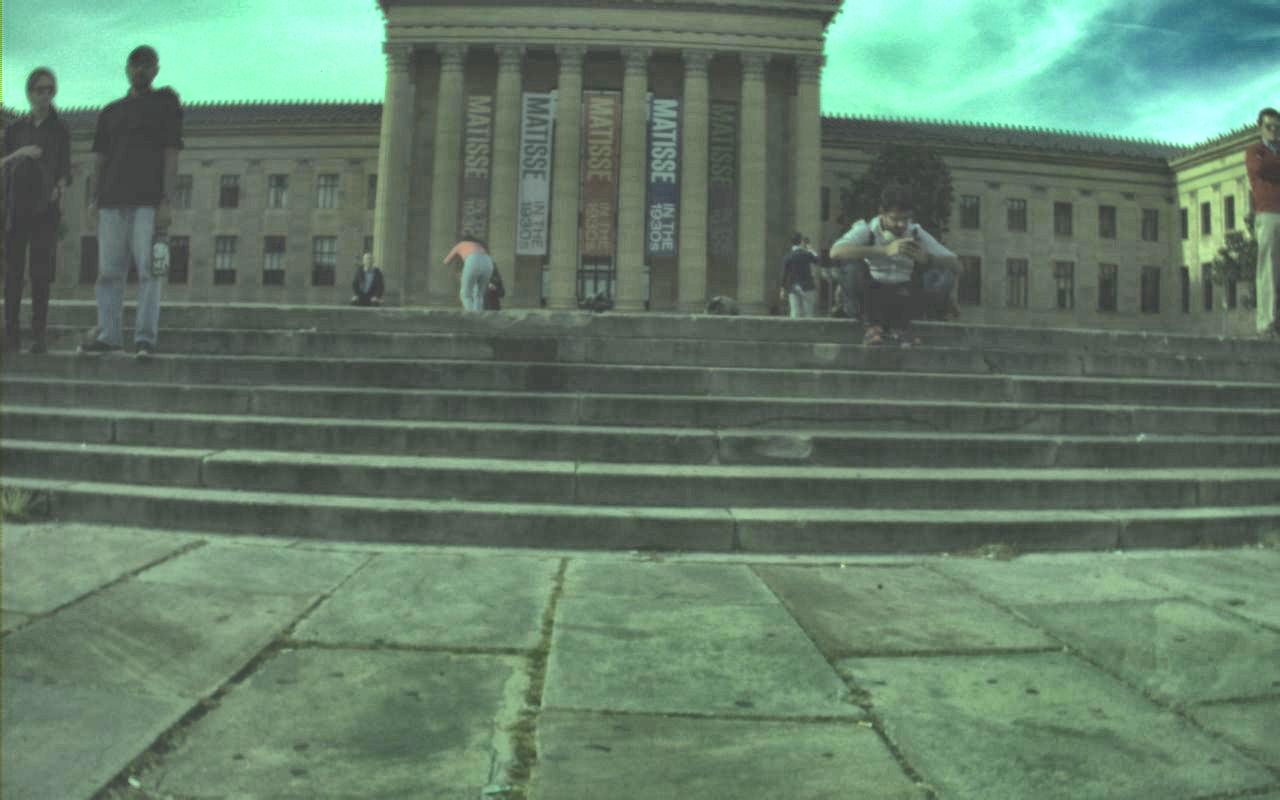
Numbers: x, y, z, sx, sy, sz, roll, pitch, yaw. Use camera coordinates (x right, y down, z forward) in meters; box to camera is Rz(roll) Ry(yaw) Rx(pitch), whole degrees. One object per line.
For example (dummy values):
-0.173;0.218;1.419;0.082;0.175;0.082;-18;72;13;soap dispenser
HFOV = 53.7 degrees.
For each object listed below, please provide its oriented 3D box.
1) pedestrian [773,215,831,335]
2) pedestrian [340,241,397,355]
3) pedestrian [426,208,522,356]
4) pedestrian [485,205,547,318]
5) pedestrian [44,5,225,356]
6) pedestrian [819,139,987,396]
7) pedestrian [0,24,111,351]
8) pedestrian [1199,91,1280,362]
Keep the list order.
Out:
2.489;-1.901;19.316;0.810;1.783;0.803;0;0;0;pedestrian
-4.257;-1.567;19.348;0.757;1.729;0.770;0;0;-22;pedestrian
-2.017;-1.409;15.241;0.876;1.733;0.822;1;0;18;pedestrian
-1.929;-2.136;19.591;0.780;1.701;0.788;0;0;9;pedestrian
-2.766;-1.149;6.338;0.770;1.836;0.768;0;0;-6;pedestrian
1.470;-0.717;7.018;0.840;1.378;0.747;0;0;1;pedestrian
-3.499;-1.152;6.331;0.751;1.779;0.755;0;0;-11;pedestrian
4.516;-1.180;8.050;0.717;1.862;0.725;0;0;-27;pedestrian
